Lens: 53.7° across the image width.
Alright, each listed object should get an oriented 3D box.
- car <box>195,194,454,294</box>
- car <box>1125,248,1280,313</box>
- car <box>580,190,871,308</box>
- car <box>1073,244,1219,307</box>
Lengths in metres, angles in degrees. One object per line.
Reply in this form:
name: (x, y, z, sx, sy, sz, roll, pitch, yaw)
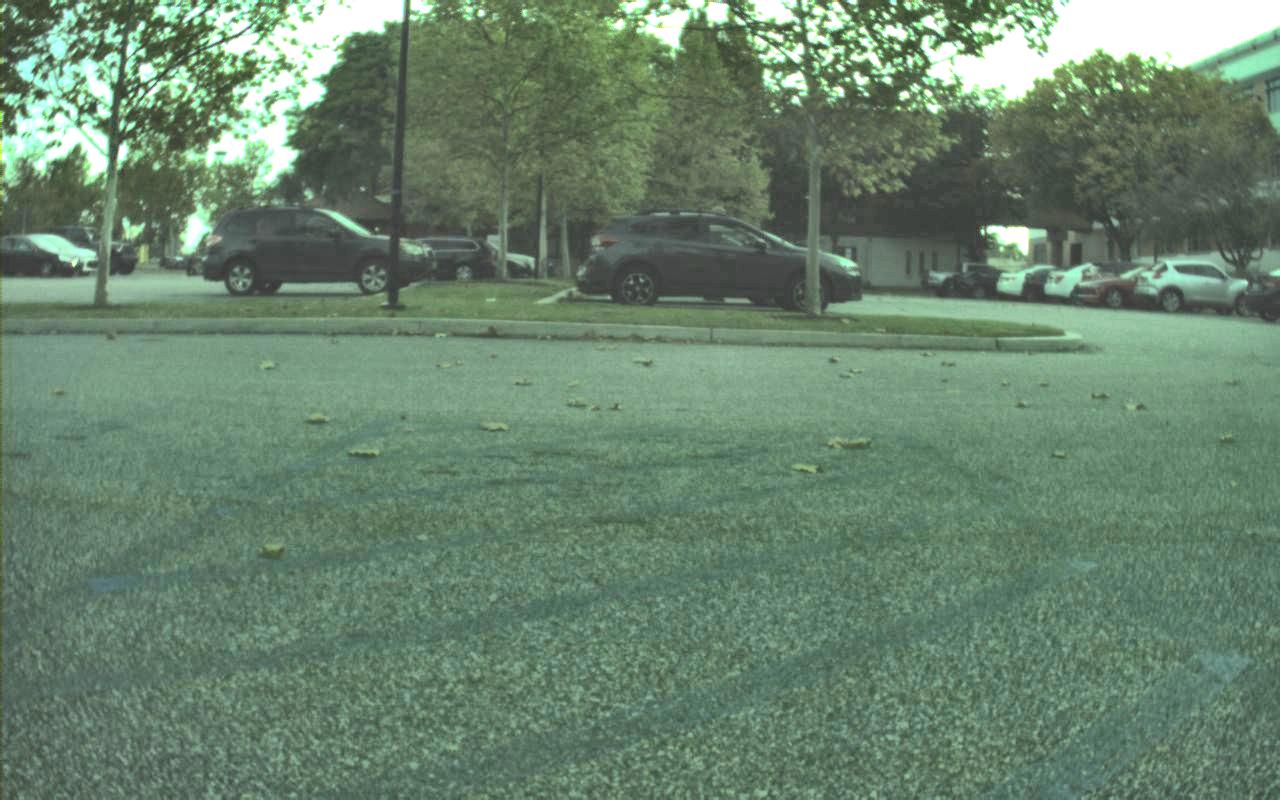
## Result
car: (-5.993, -2.891, 23.267, 4.652, 1.674, 1.990, 0, 1, 1)
car: (16.317, -3.349, 33.470, 4.466, 1.637, 1.951, 1, 1, 4)
car: (1.311, -2.394, 20.305, 4.527, 1.665, 1.947, 0, 1, -3)
car: (15.578, -3.707, 36.176, 4.515, 1.636, 1.963, 0, 1, -17)
